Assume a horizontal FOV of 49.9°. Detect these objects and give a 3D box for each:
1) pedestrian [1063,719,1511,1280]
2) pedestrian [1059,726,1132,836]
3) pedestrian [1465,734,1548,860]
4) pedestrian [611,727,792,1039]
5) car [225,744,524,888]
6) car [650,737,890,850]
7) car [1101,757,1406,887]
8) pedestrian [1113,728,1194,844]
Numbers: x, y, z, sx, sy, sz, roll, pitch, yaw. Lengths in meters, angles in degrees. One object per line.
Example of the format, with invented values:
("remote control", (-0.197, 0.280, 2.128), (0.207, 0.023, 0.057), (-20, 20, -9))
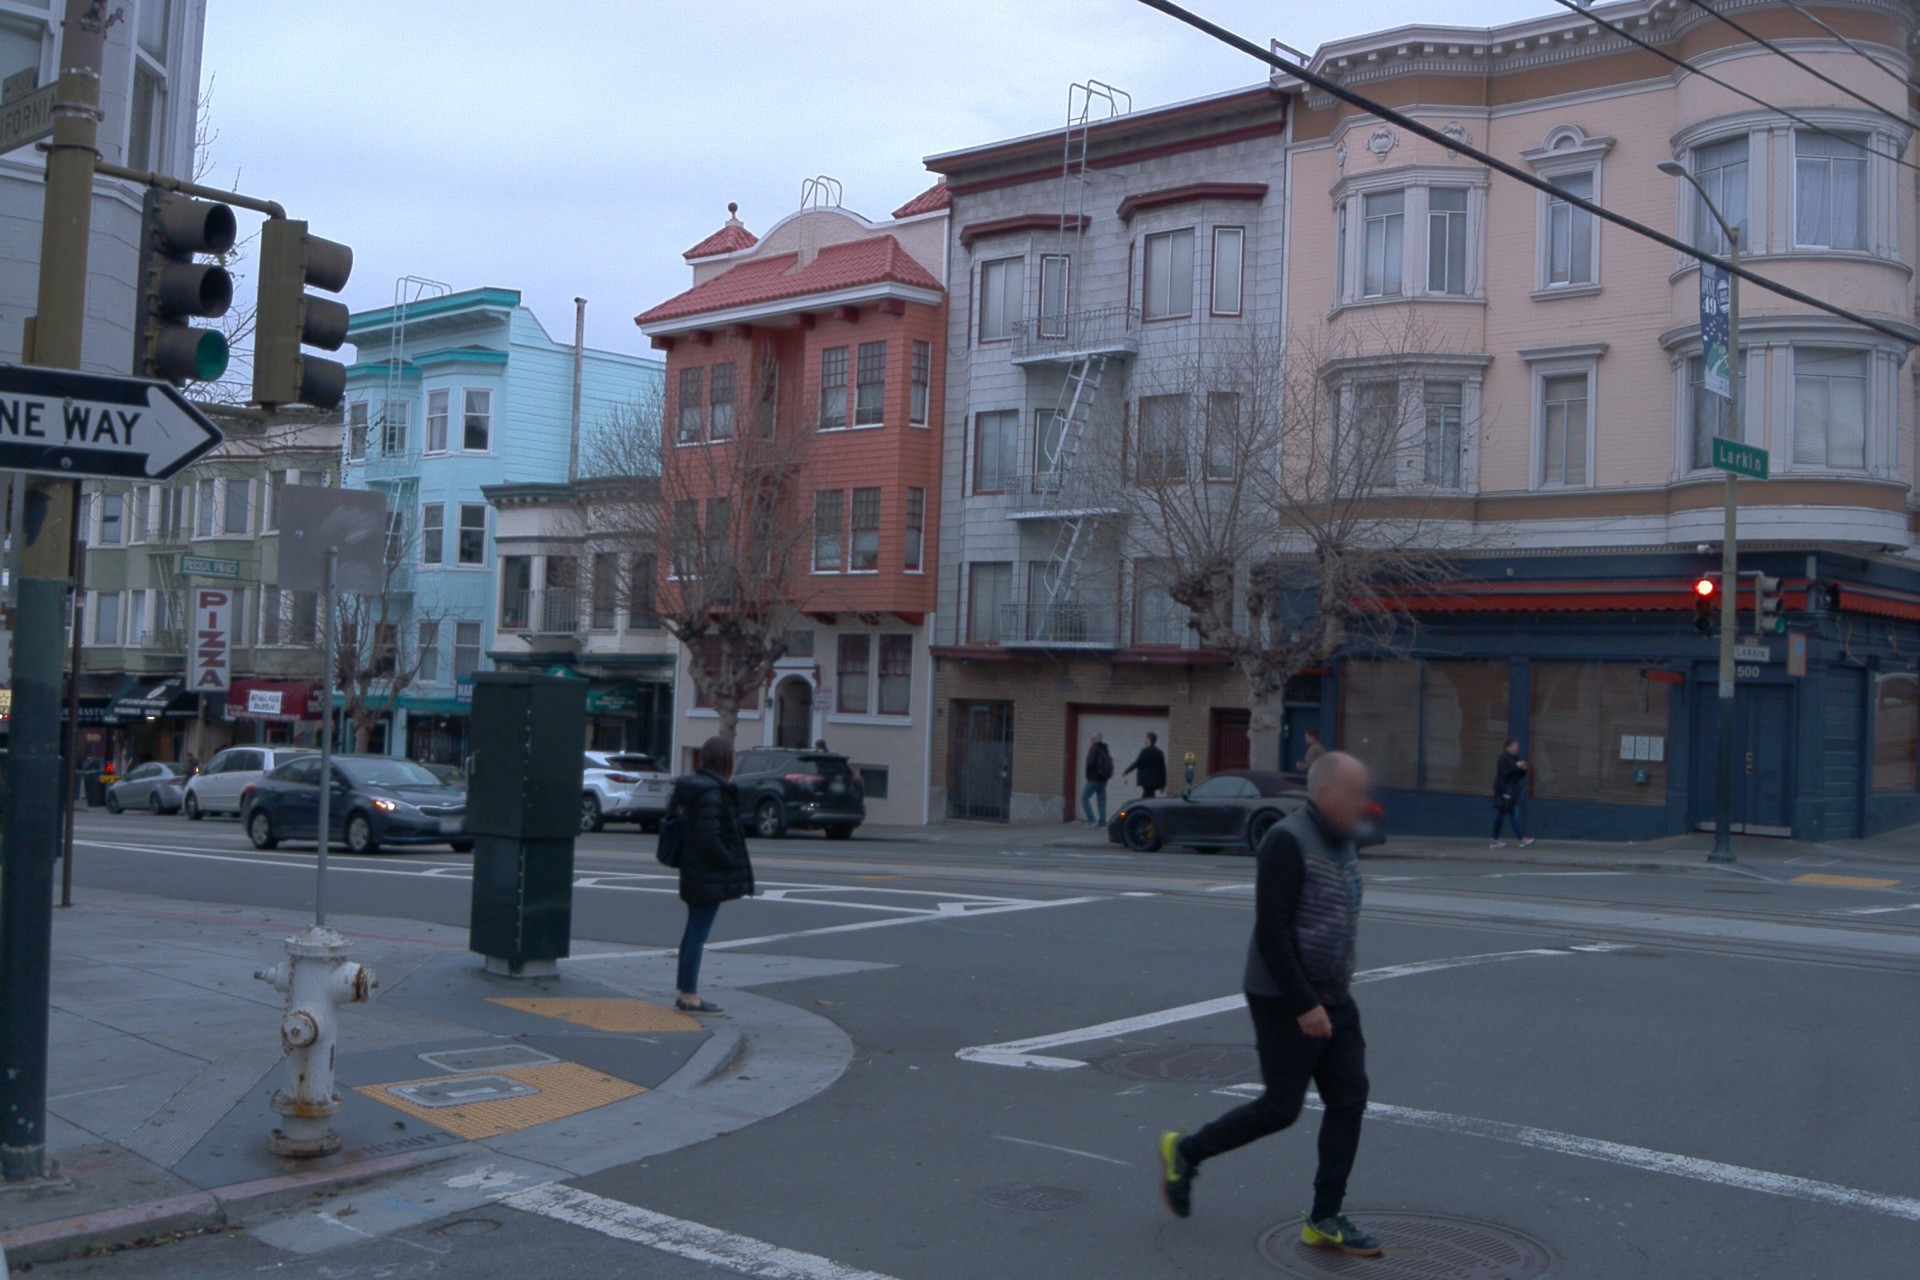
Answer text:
("pedestrian", (1.120, 1.170, 7.085), (1.244, 1.716, 0.882), (1, 1, 37))
("pedestrian", (2.508, 2.589, 38.196), (1.100, 1.930, 0.772), (1, 1, 43))
("pedestrian", (8.241, 2.348, 31.123), (0.938, 1.800, 0.779), (1, 1, 42))
("pedestrian", (-1.524, 1.392, 12.139), (0.846, 1.692, 0.707), (-1, 1, -31))
("car", (-8.503, 2.461, 29.754), (4.575, 1.600, 2.081), (1, 1, 43))
("car", (-3.619, 2.828, 38.770), (4.423, 1.700, 2.100), (1, 1, 44))
("car", (4.284, 2.624, 30.587), (1.947, 1.460, 4.186), (-1, 1, -43))
("pedestrian", (3.400, 2.545, 36.280), (1.080, 1.913, 0.903), (1, 1, 42))
